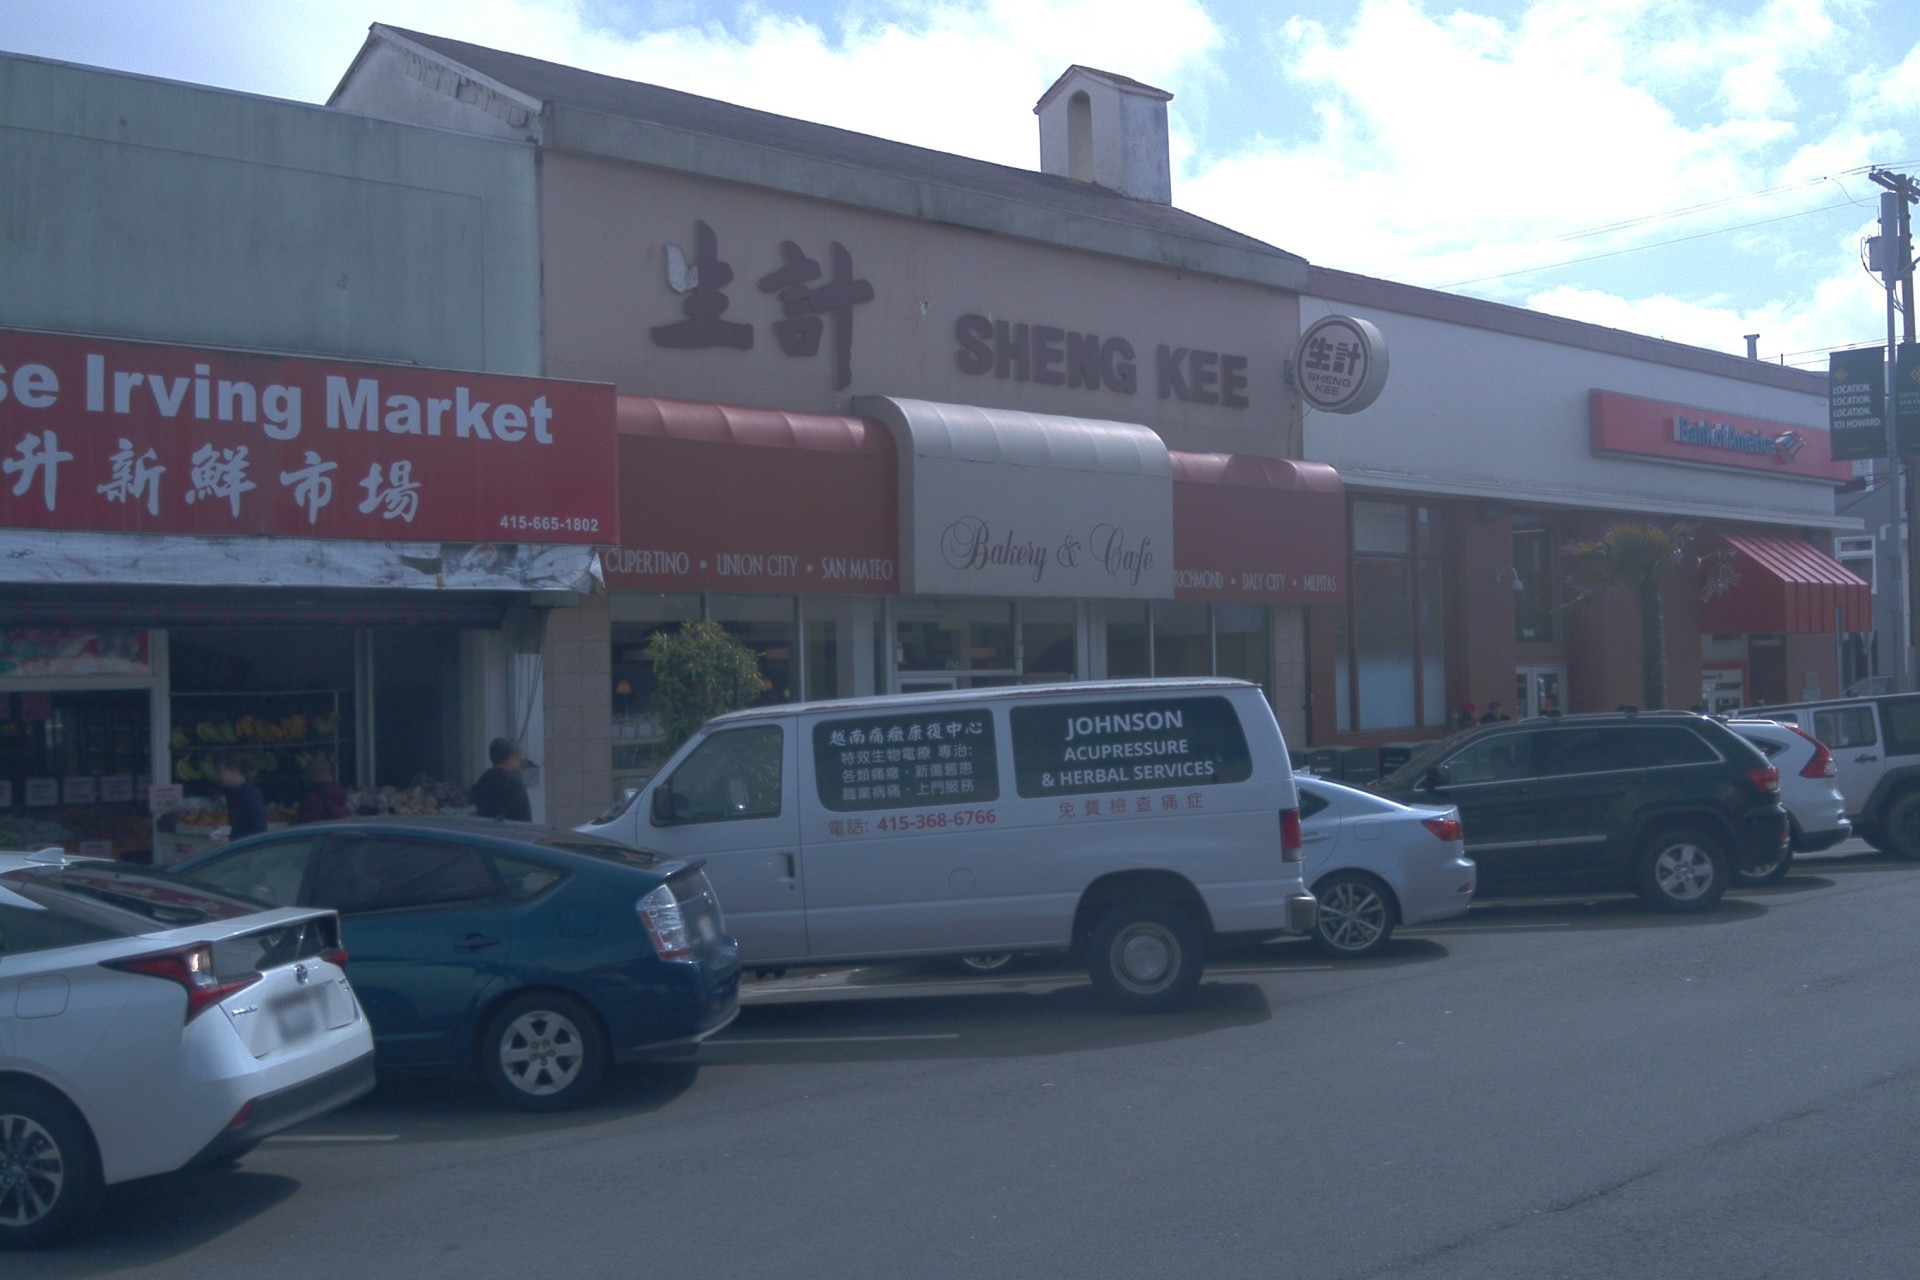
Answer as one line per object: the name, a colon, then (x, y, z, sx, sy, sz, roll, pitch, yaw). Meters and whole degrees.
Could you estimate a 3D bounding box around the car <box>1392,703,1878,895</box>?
car: (6.693, 1.541, 21.065, 4.474, 1.720, 2.128, 0, 0, 12)

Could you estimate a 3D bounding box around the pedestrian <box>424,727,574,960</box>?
pedestrian: (-3.614, 1.564, 16.303, 0.893, 1.709, 0.787, 0, 0, 45)

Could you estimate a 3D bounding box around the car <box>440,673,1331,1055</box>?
car: (-0.379, 1.355, 13.795, 5.387, 2.234, 2.515, 0, 0, 3)

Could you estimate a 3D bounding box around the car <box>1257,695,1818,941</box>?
car: (5.024, 1.515, 18.693, 4.608, 1.970, 2.237, 0, 0, 8)

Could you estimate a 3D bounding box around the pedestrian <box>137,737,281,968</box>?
pedestrian: (-5.591, 1.551, 15.483, 0.780, 1.612, 0.747, 0, 0, -43)

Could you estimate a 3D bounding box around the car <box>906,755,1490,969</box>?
car: (1.820, 1.672, 16.231, 4.252, 1.420, 2.017, 0, 0, 4)
